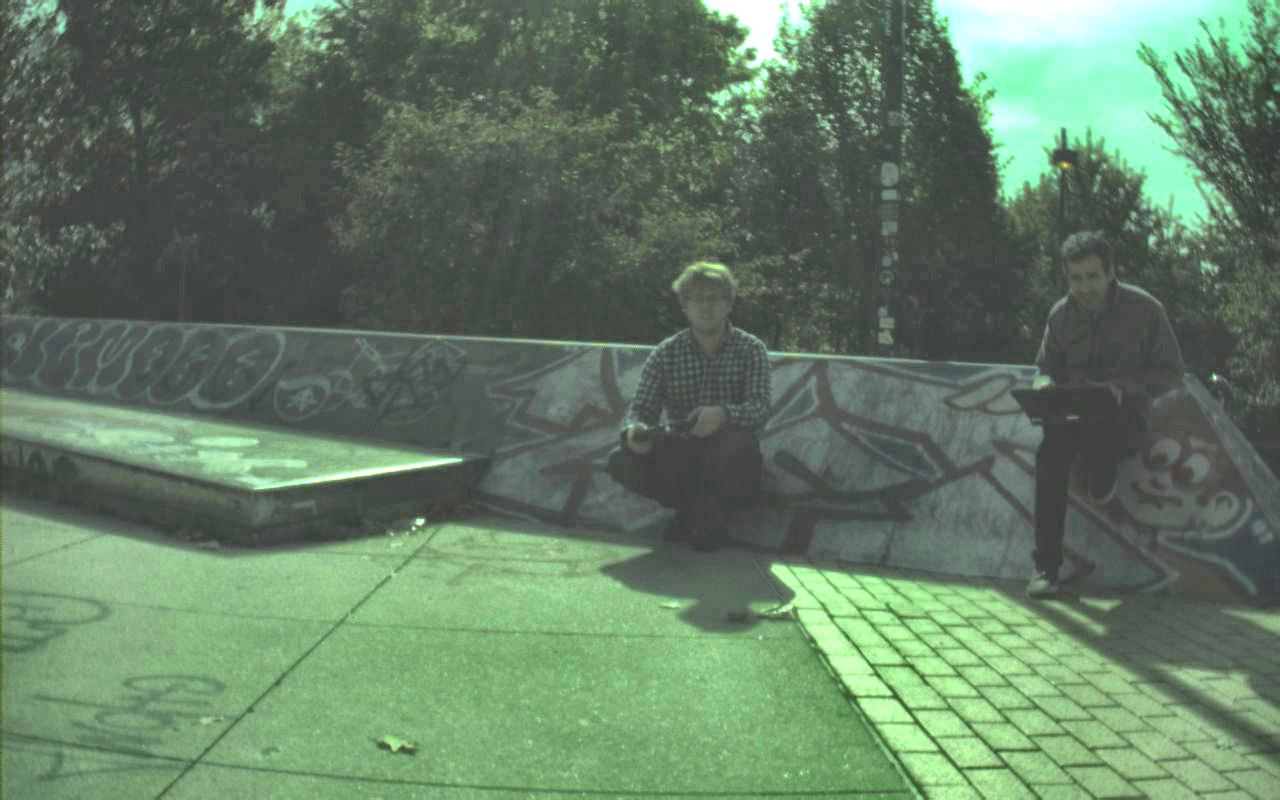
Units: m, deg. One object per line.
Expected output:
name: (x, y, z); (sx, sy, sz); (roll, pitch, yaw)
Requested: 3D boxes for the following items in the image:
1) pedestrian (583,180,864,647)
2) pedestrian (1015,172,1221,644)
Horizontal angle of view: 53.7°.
pedestrian: (0.295, 0.042, 4.873); (0.862, 1.631, 0.845); (0, 0, -16)
pedestrian: (1.792, 0.027, 4.324); (0.692, 1.591, 0.771); (1, 0, 28)
